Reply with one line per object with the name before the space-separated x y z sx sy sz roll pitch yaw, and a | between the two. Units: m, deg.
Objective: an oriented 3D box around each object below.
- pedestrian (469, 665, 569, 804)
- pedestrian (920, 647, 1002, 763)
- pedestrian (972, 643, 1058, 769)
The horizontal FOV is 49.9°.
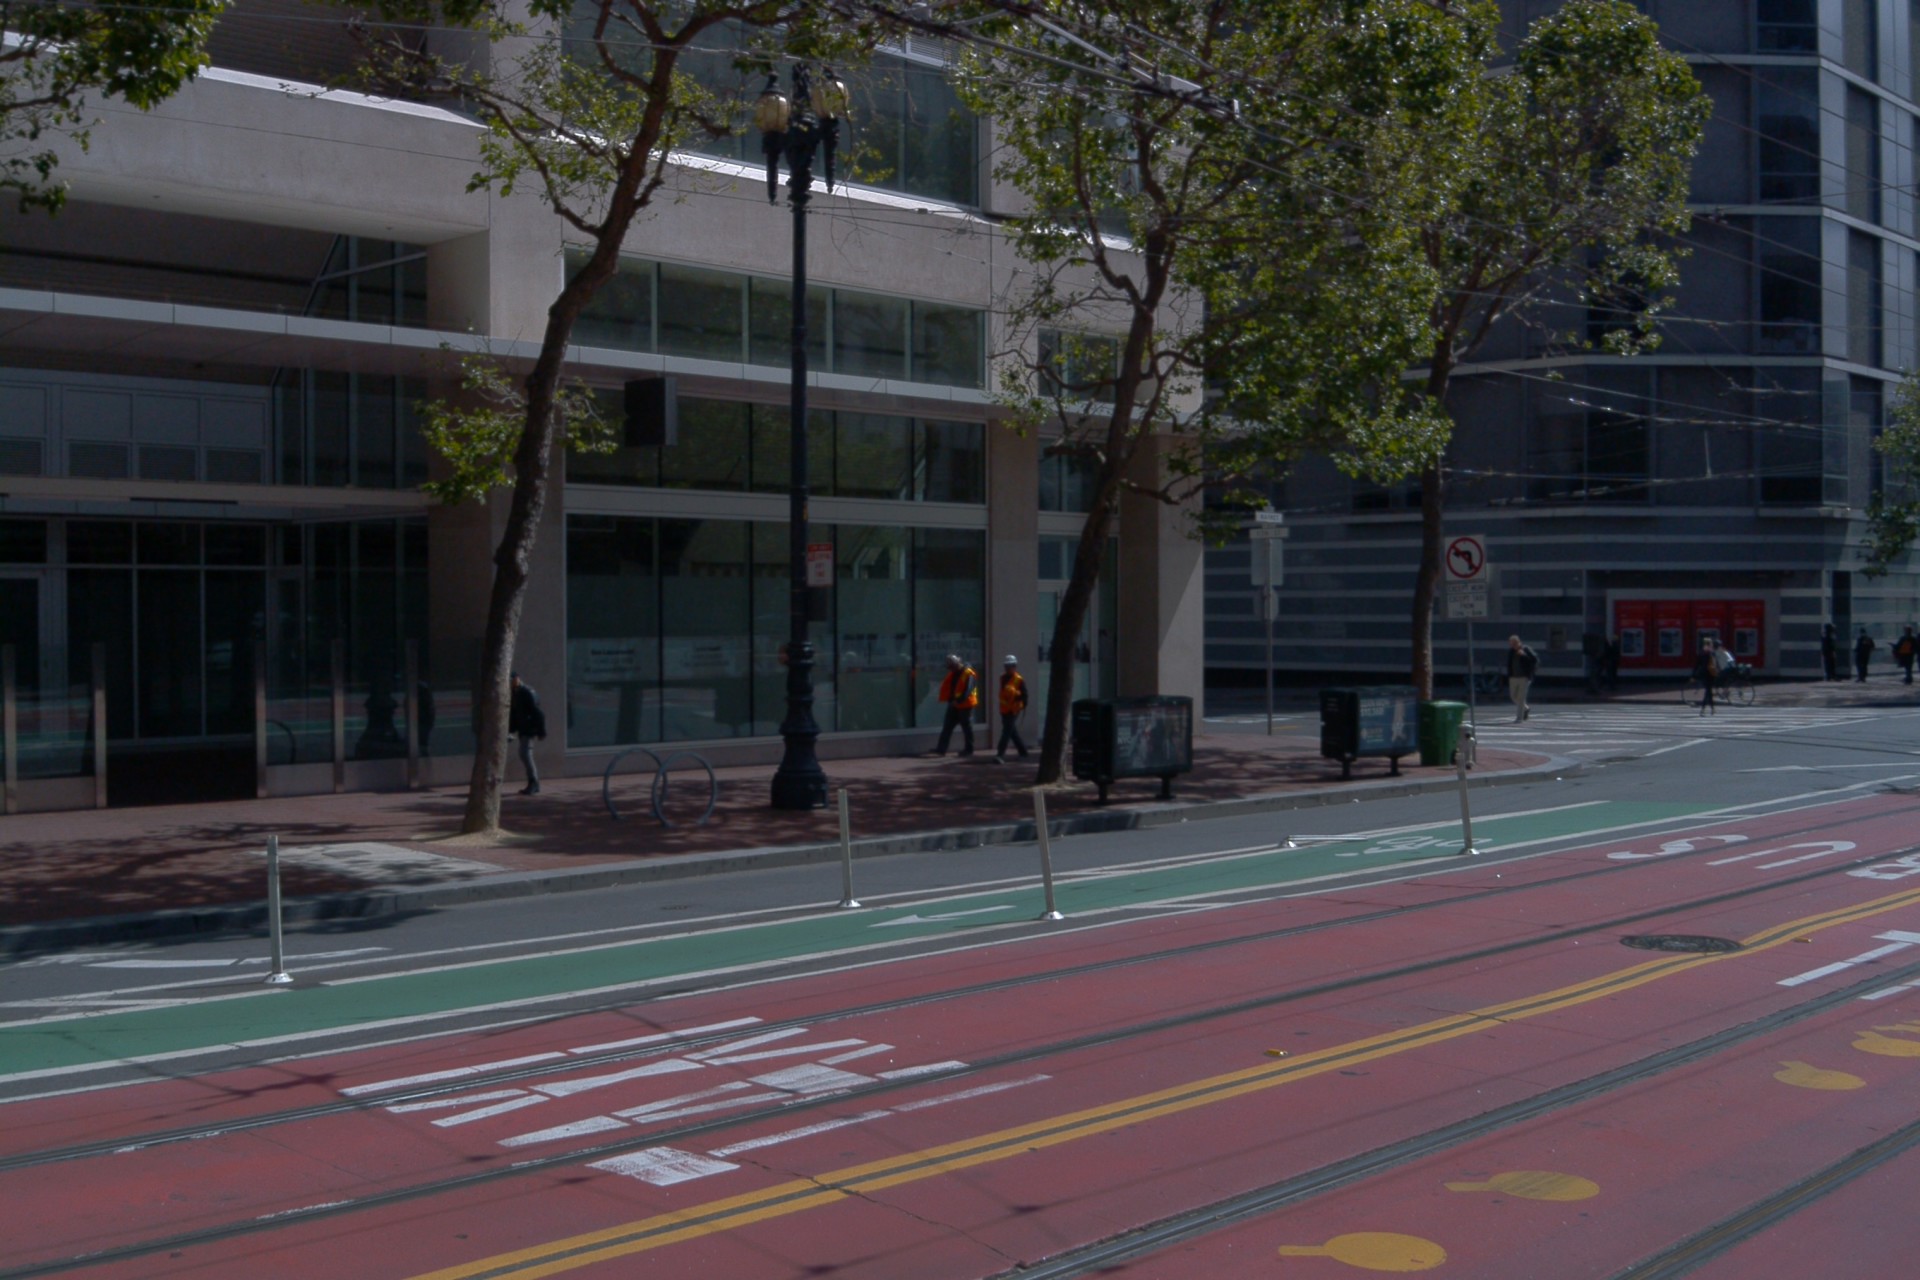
pedestrian | -5.663 1.197 26.508 1.011 1.710 0.760 -1 1 -43
pedestrian | 0.010 1.031 33.141 0.994 1.810 0.855 -1 1 -37
pedestrian | 0.854 1.014 32.211 1.042 1.910 0.846 -1 1 -44
